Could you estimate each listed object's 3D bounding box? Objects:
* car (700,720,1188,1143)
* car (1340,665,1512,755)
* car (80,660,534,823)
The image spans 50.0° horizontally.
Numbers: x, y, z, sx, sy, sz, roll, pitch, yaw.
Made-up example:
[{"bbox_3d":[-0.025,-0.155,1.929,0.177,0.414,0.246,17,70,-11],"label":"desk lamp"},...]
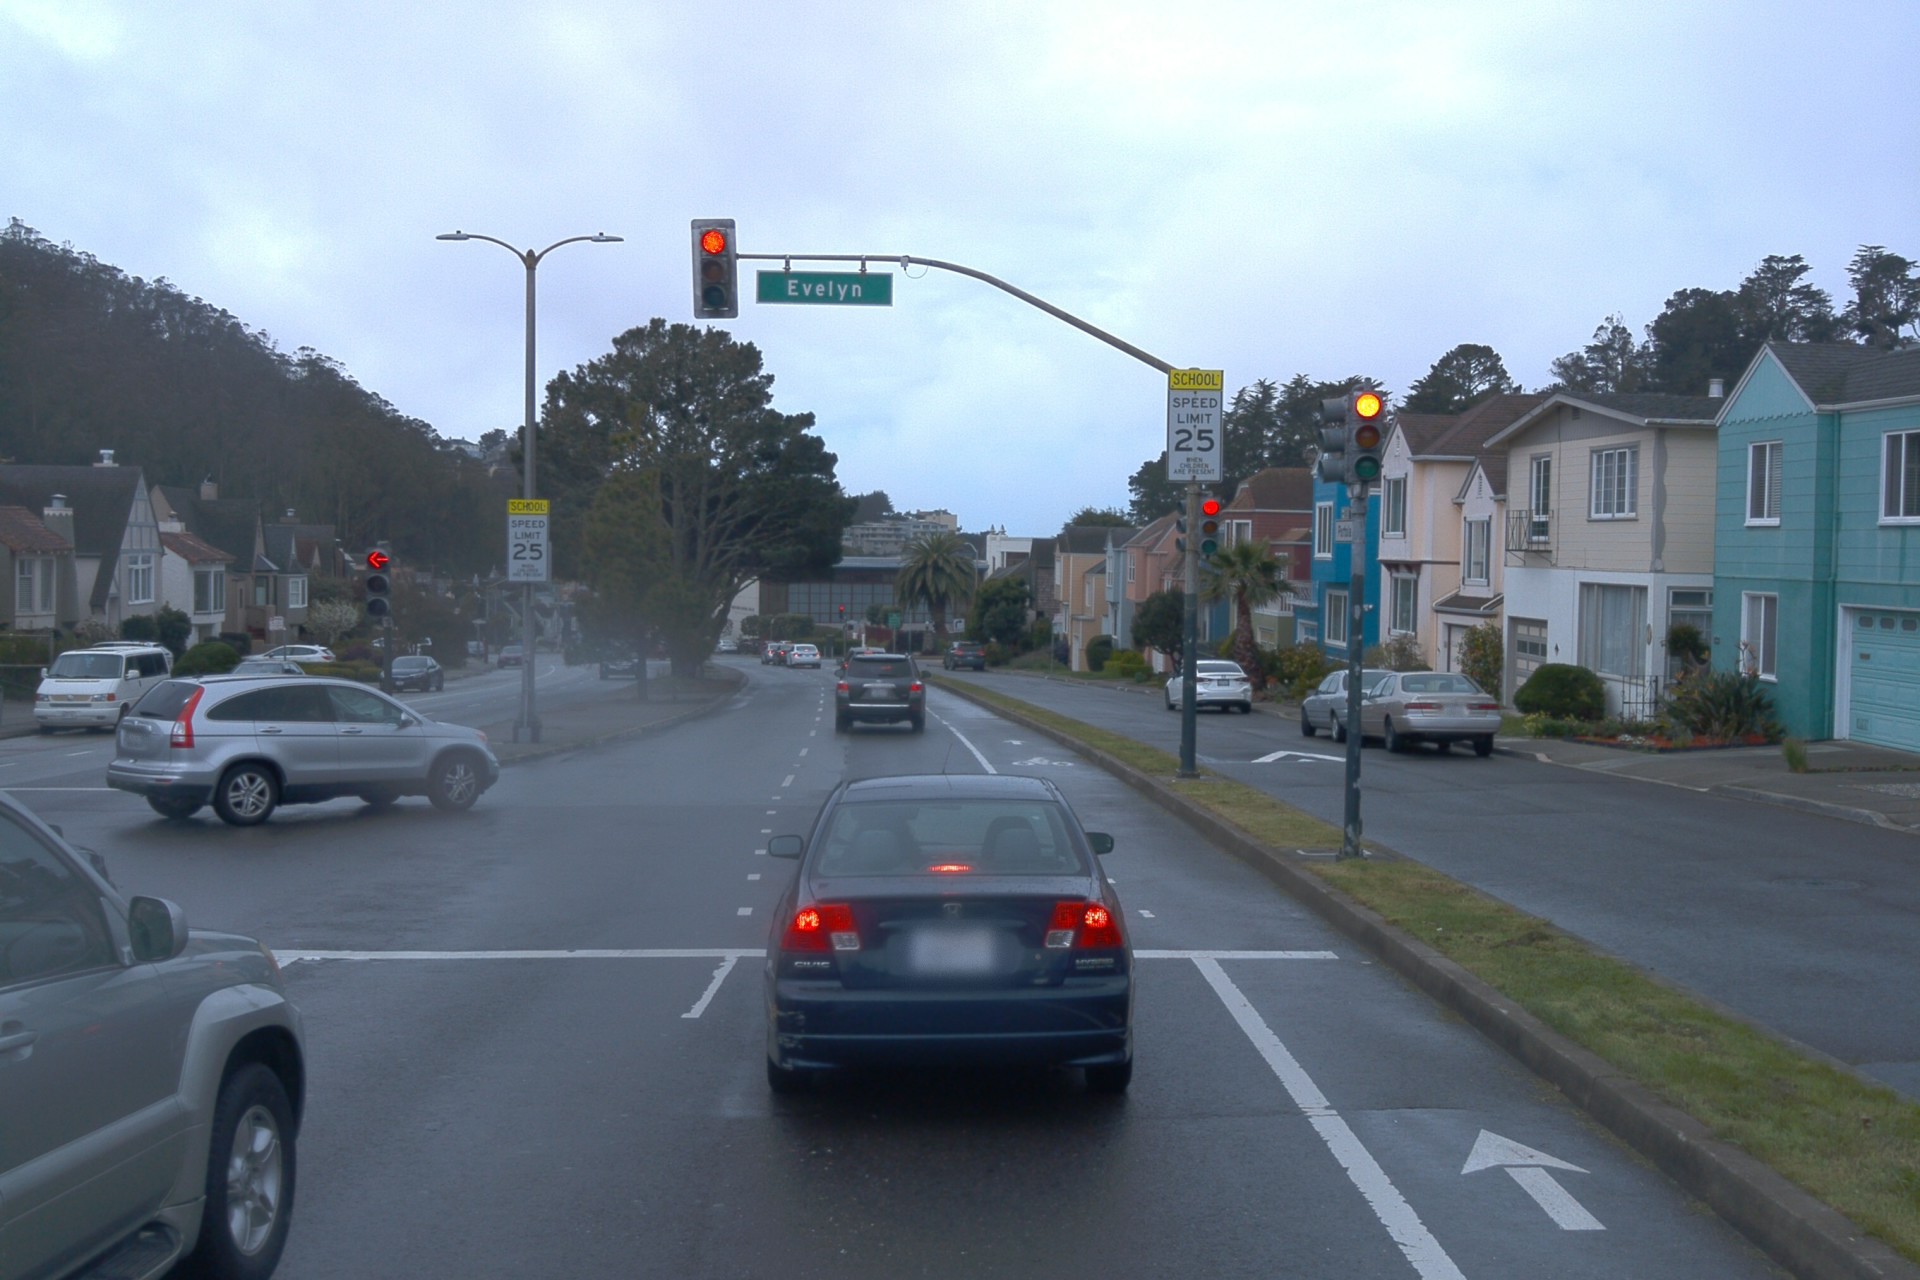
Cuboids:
[{"bbox_3d":[-0.107,1.274,10.547,2.004,1.570,4.164,0,0,-1],"label":"car"},{"bbox_3d":[8.084,1.177,36.133,1.755,1.440,4.469,0,0,-4],"label":"car"},{"bbox_3d":[-7.525,1.092,24.060,2.143,1.660,4.580,0,0,44],"label":"car"}]
